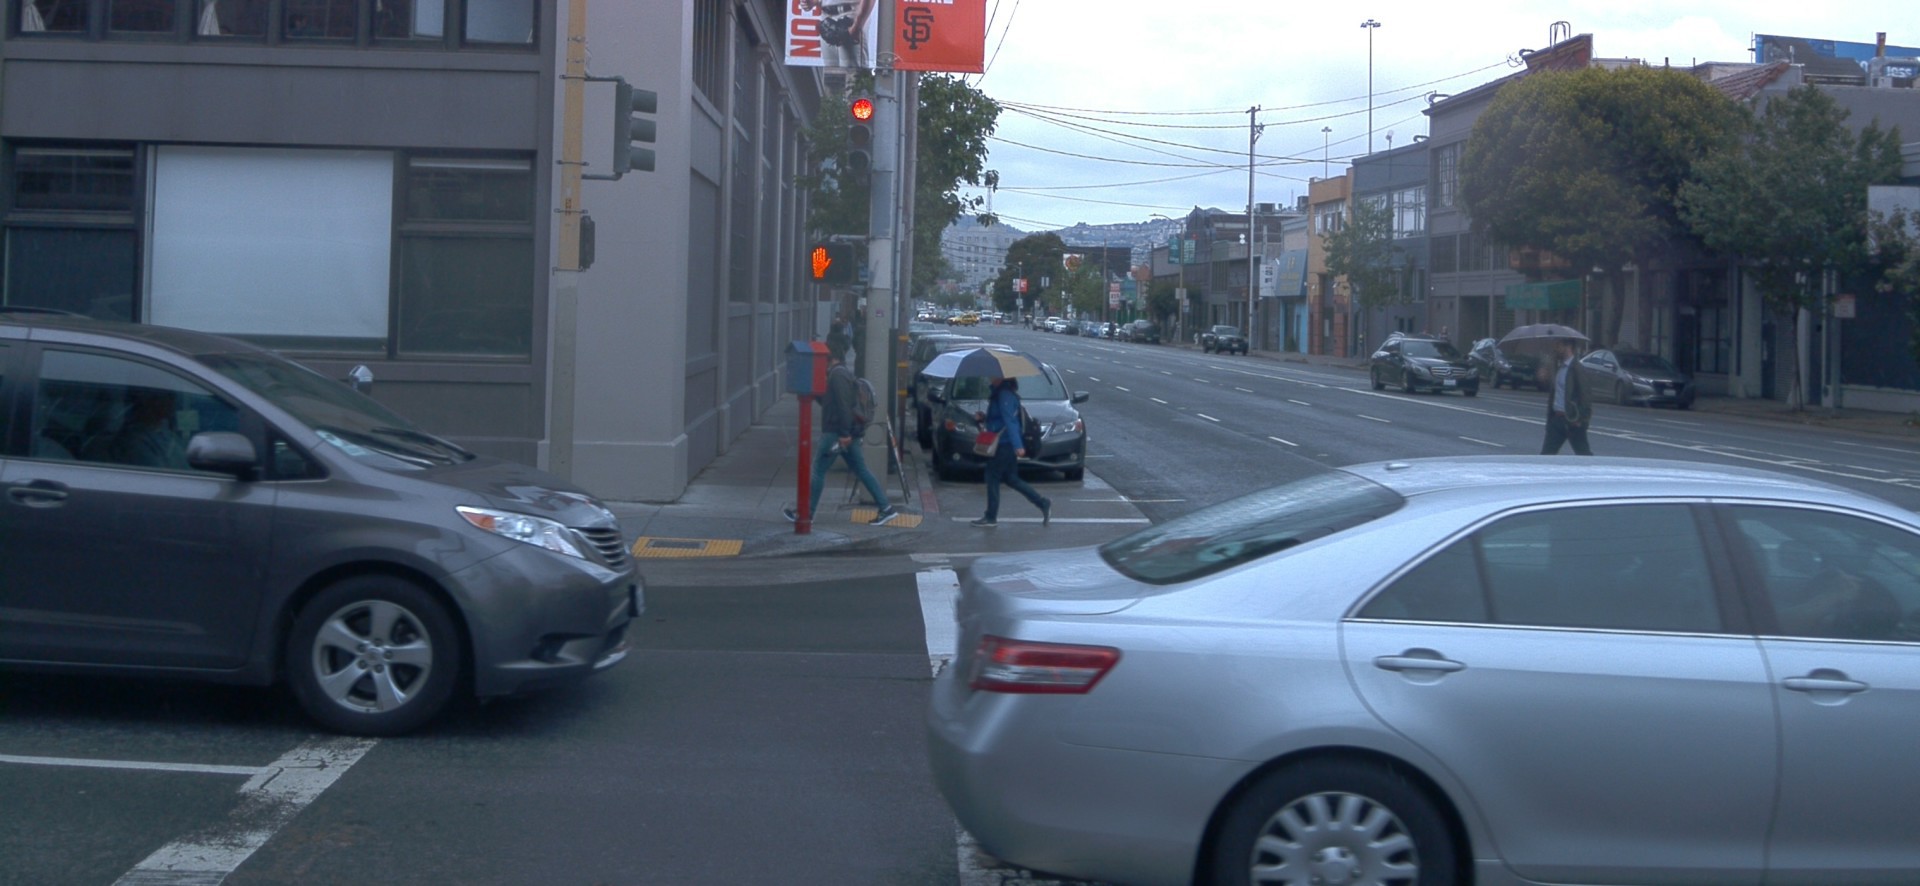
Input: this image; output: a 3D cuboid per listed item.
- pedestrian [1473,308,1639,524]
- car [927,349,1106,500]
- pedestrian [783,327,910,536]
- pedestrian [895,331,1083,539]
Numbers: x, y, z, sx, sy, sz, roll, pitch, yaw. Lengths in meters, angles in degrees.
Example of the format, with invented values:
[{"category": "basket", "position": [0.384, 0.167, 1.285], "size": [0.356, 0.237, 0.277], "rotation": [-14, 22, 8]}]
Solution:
[{"category": "pedestrian", "position": [6.039, -0.311, 21.101], "size": [1.284, 2.082, 1.185], "rotation": [0, 2, -5]}, {"category": "car", "position": [0.618, -0.312, 26.065], "size": [2.020, 1.454, 4.437], "rotation": [0, 5, -1]}, {"category": "pedestrian", "position": [-1.040, -0.135, 19.057], "size": [1.131, 1.819, 1.033], "rotation": [0, 1, -3]}, {"category": "pedestrian", "position": [0.256, -0.117, 19.770], "size": [1.573, 1.829, 1.364], "rotation": [0, 2, -9]}]
